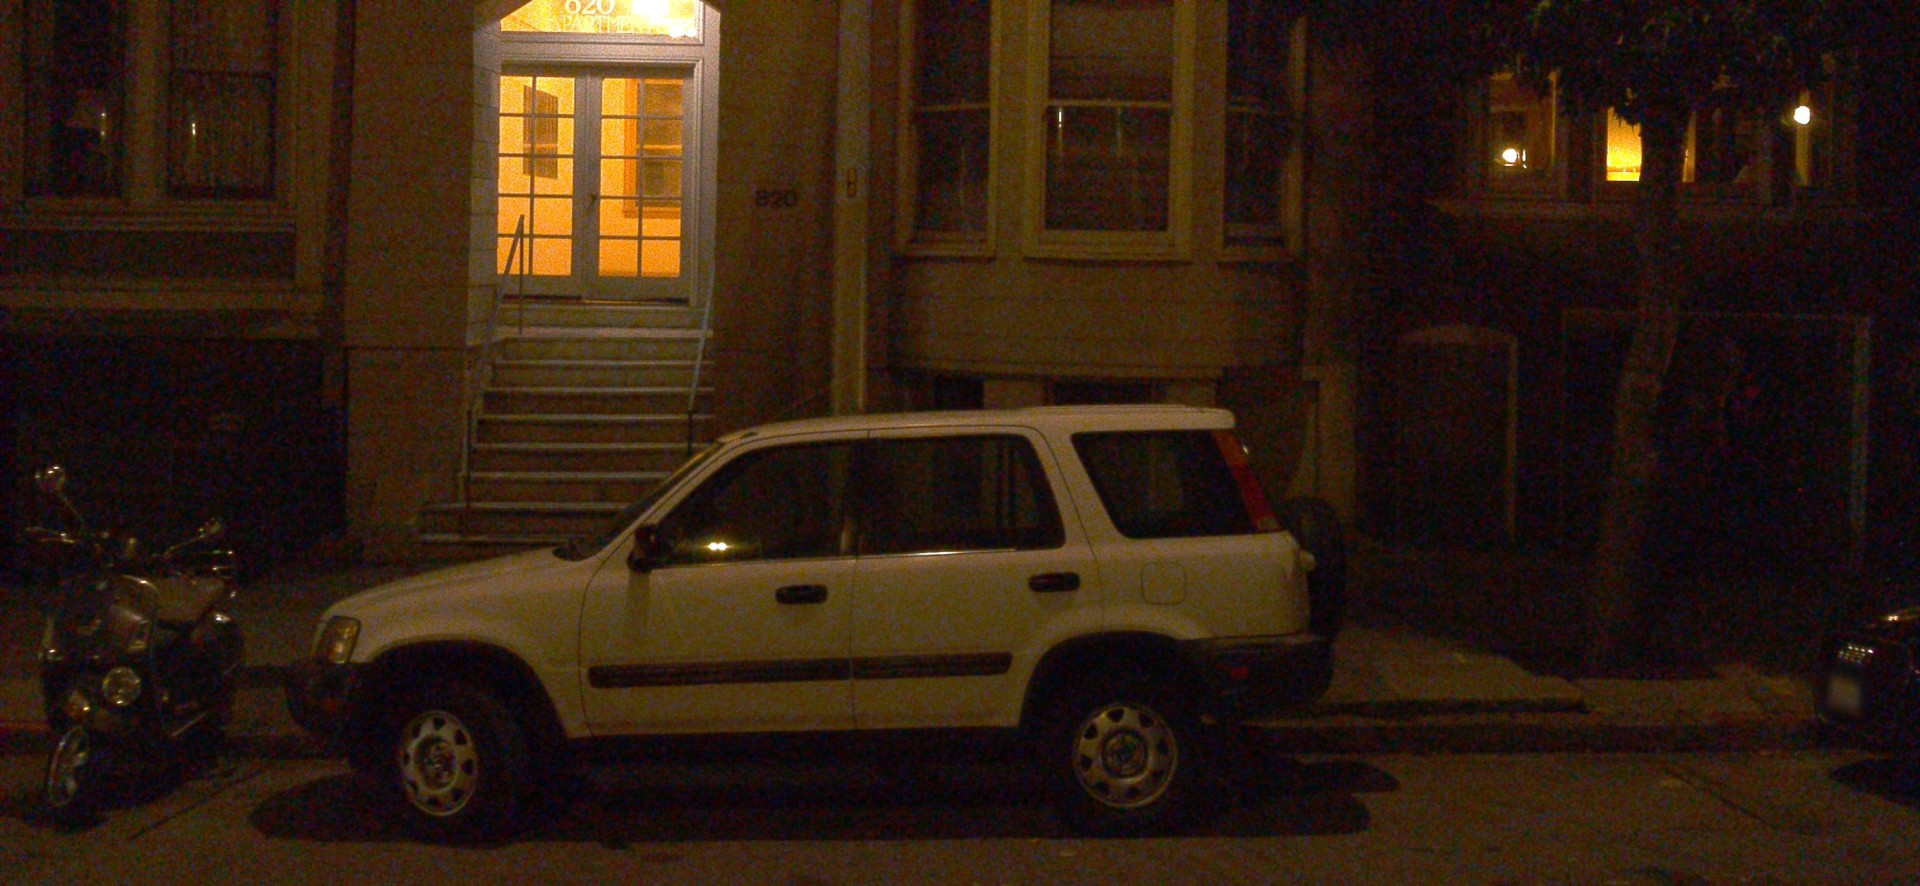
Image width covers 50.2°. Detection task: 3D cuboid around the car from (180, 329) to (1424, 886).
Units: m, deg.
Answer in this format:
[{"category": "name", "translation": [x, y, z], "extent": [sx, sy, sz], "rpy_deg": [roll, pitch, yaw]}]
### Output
[{"category": "car", "translation": [-0.586, 0.560, 8.731], "extent": [4.652, 1.932, 2.081], "rpy_deg": [0, 5, -1]}]

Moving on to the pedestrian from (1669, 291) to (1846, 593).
[{"category": "pedestrian", "translation": [5.182, -0.035, 13.356], "extent": [0.825, 1.875, 0.780], "rpy_deg": [0, 3, -2]}]
